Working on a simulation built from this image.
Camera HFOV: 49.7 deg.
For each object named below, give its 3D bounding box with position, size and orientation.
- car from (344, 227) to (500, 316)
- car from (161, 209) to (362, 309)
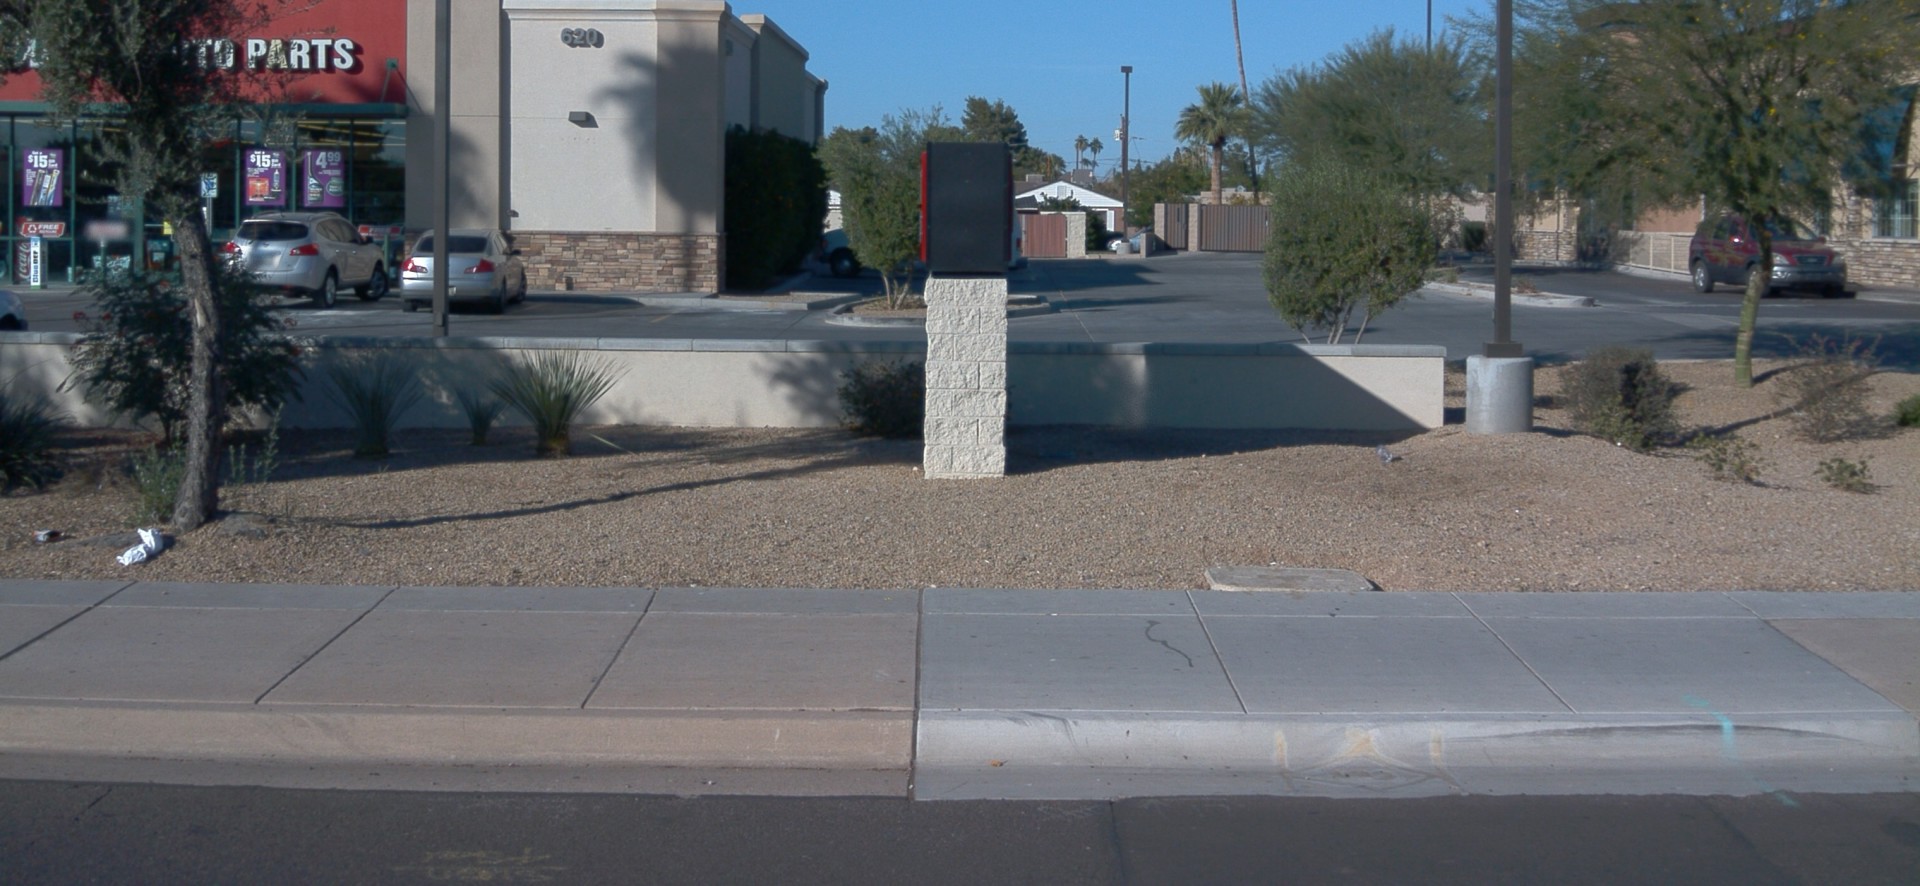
[{"bbox_3d":[-9.518,-3.099,37.031,1.928,1.484,4.788,0,5,-5],"label":"car"},{"bbox_3d":[-12.401,-3.314,37.135,1.965,1.674,4.554,0,5,1],"label":"car"}]
